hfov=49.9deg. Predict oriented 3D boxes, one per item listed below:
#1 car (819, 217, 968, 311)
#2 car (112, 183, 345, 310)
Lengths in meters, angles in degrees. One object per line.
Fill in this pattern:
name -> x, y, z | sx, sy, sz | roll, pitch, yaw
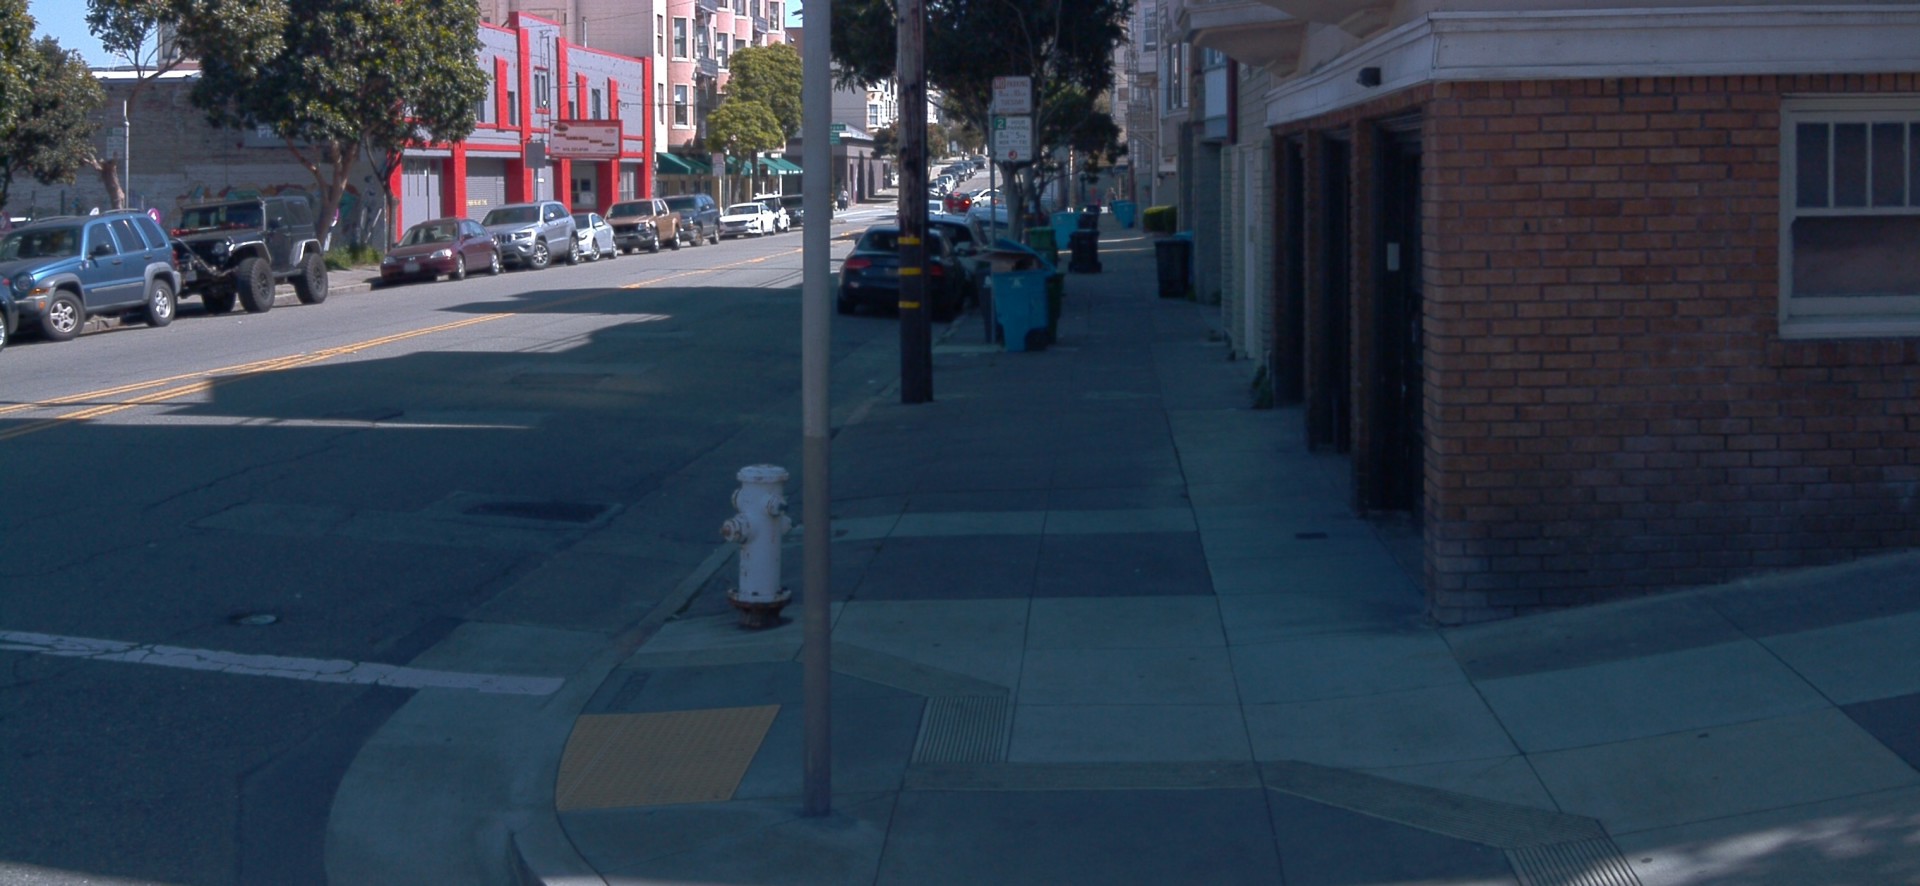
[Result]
car -> -1.001, -2.923, 33.451 | 1.932, 1.414, 4.480 | 0, 5, 4
car -> -12.298, -3.339, 35.042 | 2.078, 2.003, 4.403 | 0, 5, 5
